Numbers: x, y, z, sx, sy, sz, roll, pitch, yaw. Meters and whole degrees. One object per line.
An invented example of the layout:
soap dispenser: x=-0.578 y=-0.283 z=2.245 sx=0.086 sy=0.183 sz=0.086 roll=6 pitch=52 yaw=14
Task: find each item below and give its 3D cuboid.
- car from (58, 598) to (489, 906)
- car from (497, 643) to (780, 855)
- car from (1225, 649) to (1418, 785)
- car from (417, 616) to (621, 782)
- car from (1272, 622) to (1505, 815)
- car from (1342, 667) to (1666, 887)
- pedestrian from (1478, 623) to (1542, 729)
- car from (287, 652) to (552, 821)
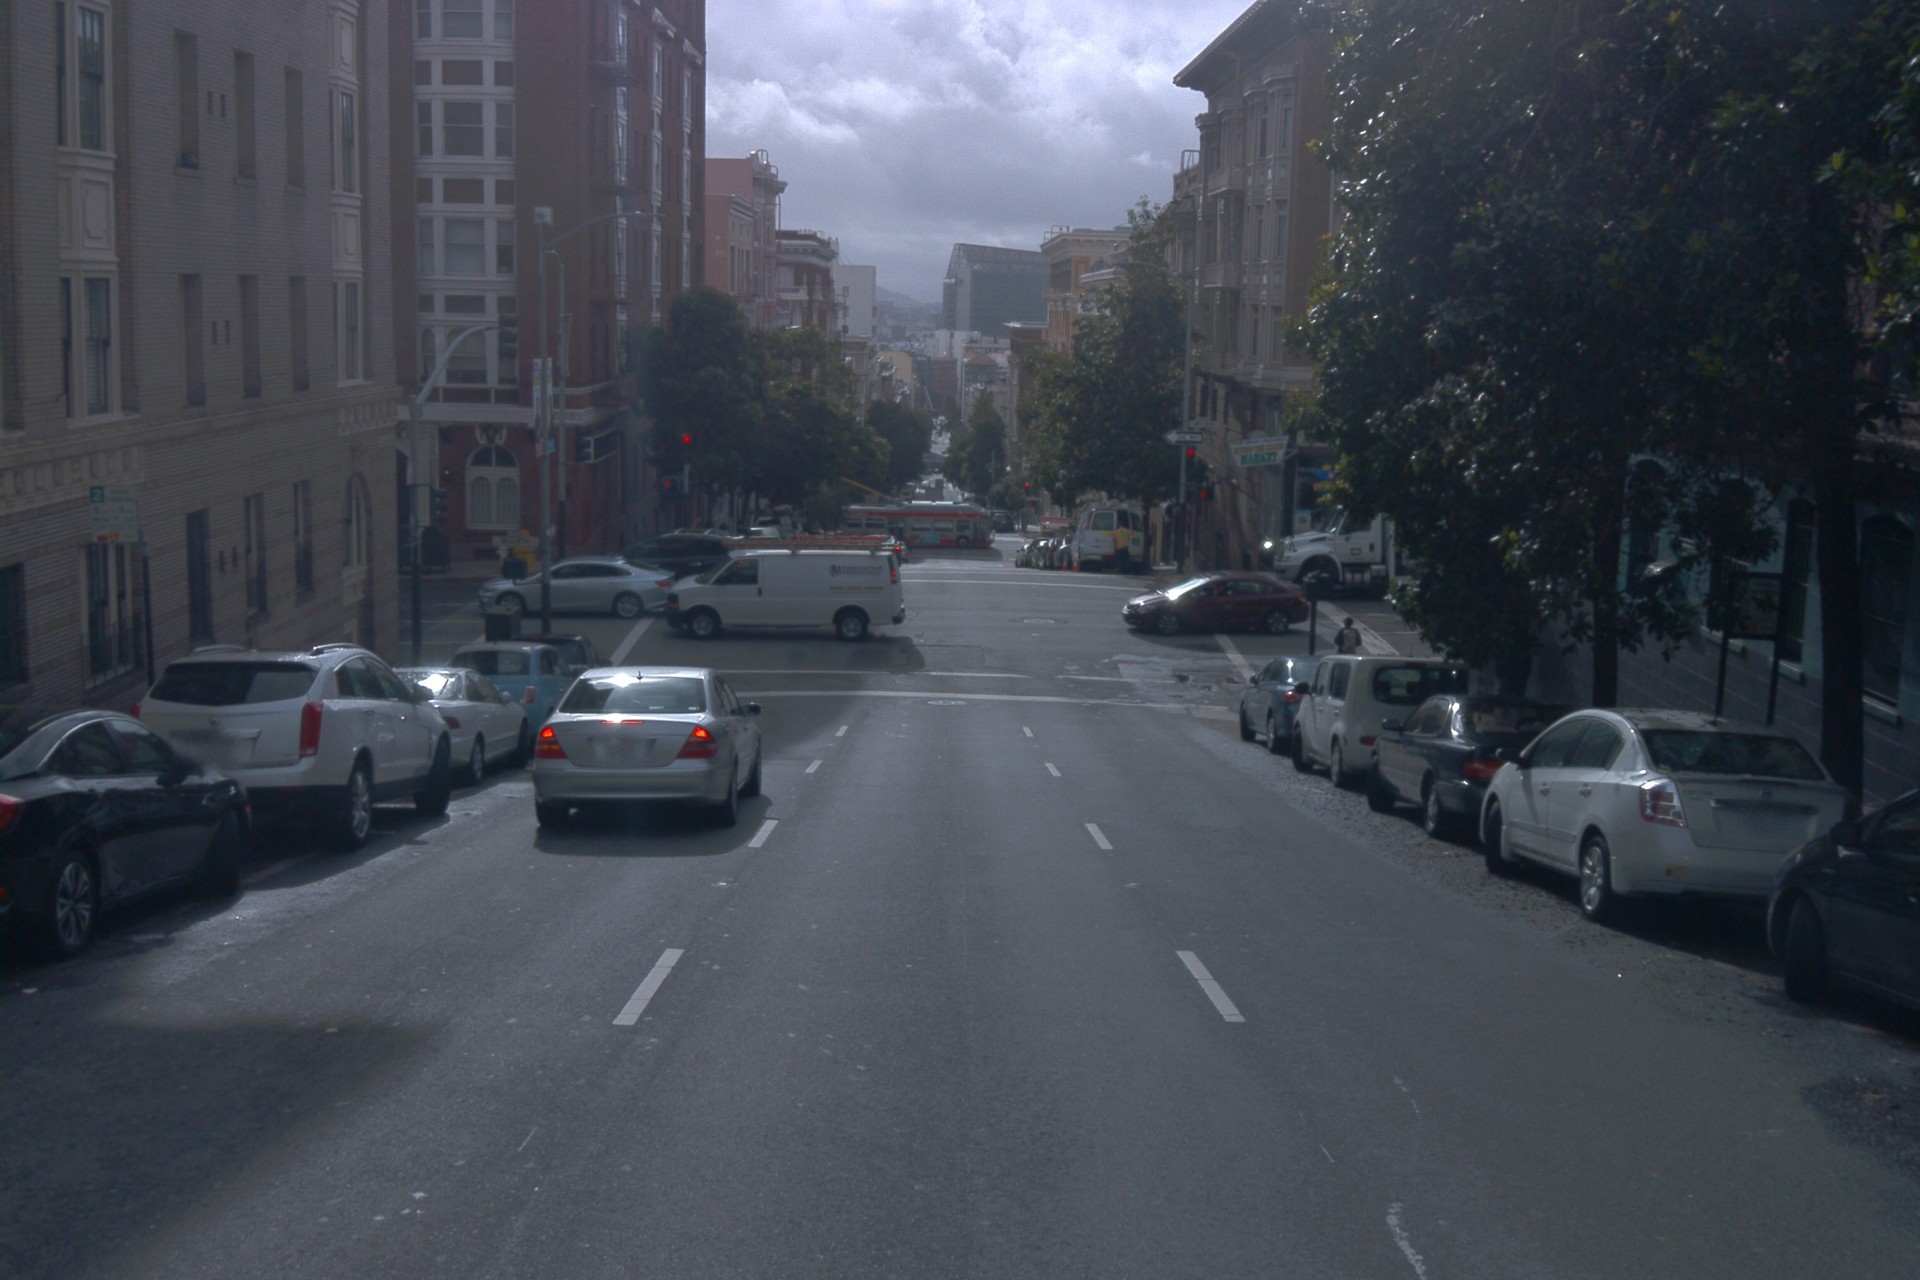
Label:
car: x=-5.836 y=0.828 z=18.122 sx=2.235 sy=2.330 sz=4.782 roll=1 pitch=1 yaw=-1
car: x=-2.955 y=0.937 z=19.811 sx=2.074 sy=1.700 sz=4.689 roll=1 pitch=1 yaw=-1
car: x=5.436 y=1.106 z=31.330 sx=2.011 sy=1.800 sz=4.510 roll=1 pitch=1 yaw=-1
car: x=-5.942 y=0.732 z=27.956 sx=1.859 sy=2.070 sz=3.589 roll=1 pitch=1 yaw=2
car: x=5.381 y=0.913 z=26.207 sx=2.029 sy=2.230 sz=3.892 roll=1 pitch=1 yaw=-2
car: x=5.326 y=1.262 z=20.718 sx=2.033 sy=1.822 sz=4.632 roll=1 pitch=1 yaw=0
pedestrian: x=9.498 y=0.609 z=35.333 sx=0.852 sy=1.800 sz=0.770 roll=1 pitch=1 yaw=0
car: x=-6.124 y=1.033 z=23.706 sx=1.958 sy=1.670 sz=4.250 roll=1 pitch=1 yaw=-1
